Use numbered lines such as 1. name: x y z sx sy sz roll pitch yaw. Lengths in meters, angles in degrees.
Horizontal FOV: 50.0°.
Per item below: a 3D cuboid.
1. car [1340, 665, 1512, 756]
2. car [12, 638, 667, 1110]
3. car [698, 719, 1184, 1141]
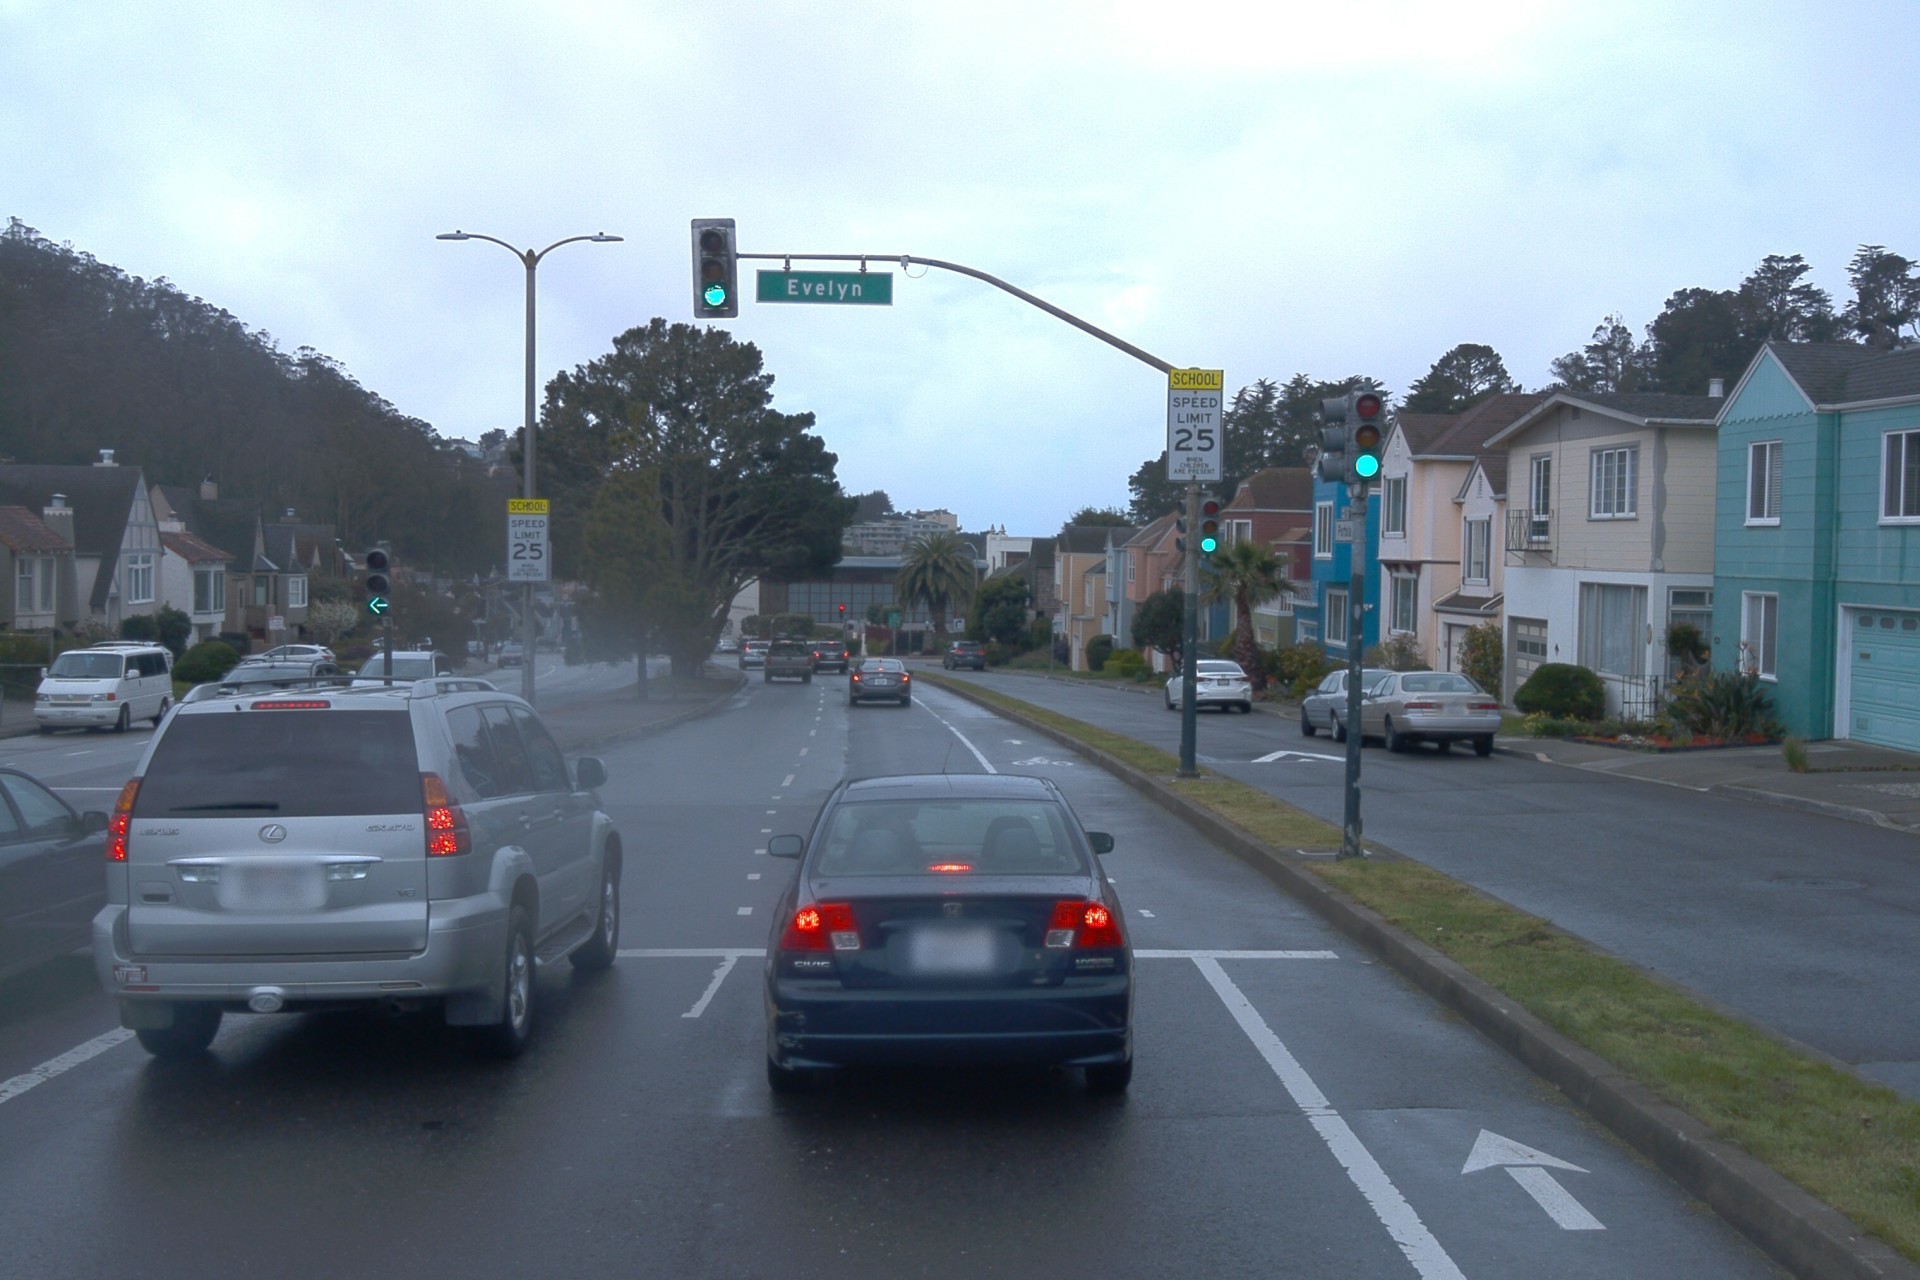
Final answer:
1. car: 8.081 1.194 36.133 1.755 1.440 4.469 0 0 -4
2. car: -3.062 1.028 11.430 2.249 2.070 4.733 0 0 -1
3. car: -0.120 1.273 10.573 2.004 1.570 4.164 0 0 -1
